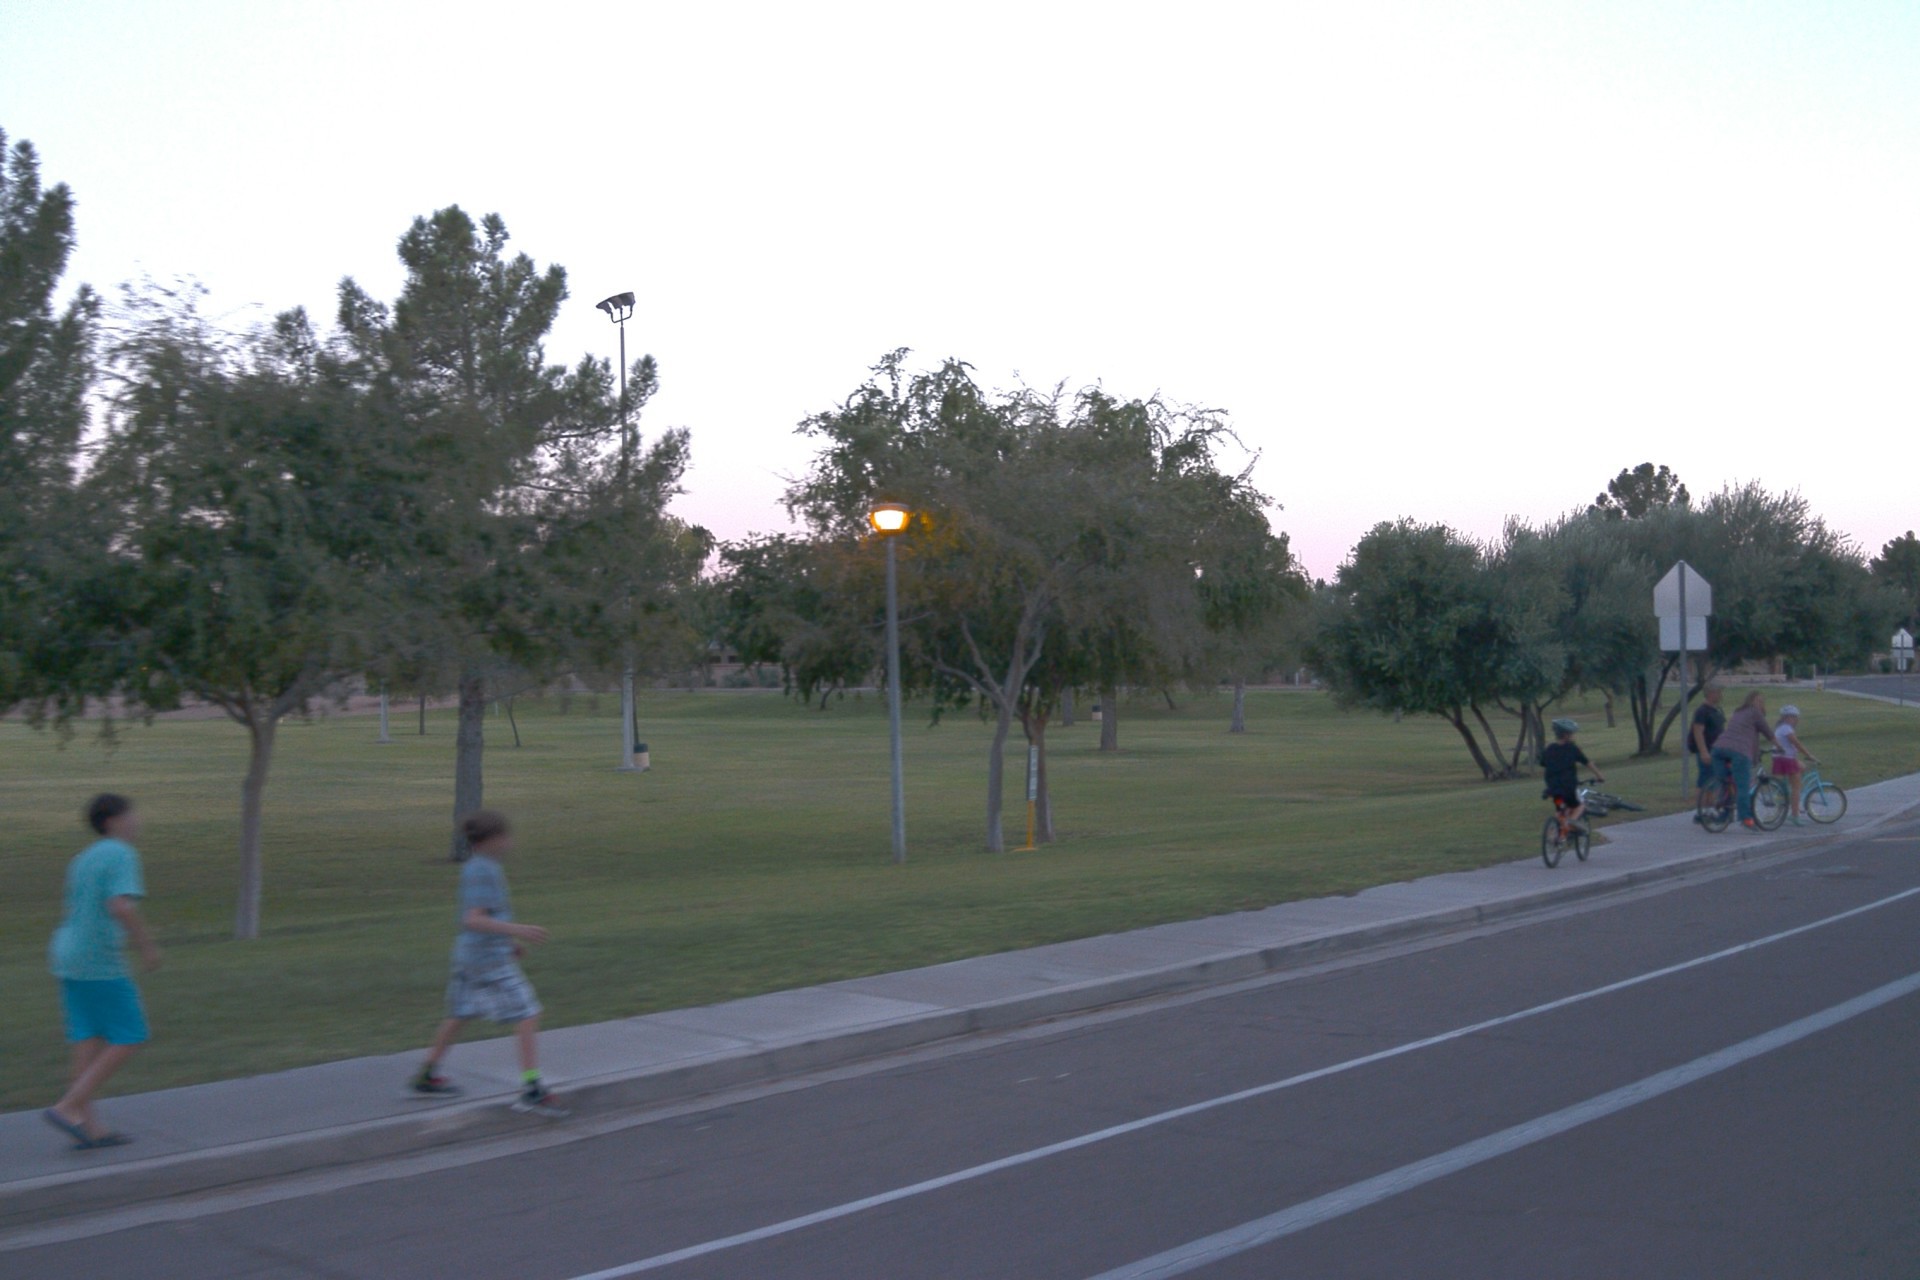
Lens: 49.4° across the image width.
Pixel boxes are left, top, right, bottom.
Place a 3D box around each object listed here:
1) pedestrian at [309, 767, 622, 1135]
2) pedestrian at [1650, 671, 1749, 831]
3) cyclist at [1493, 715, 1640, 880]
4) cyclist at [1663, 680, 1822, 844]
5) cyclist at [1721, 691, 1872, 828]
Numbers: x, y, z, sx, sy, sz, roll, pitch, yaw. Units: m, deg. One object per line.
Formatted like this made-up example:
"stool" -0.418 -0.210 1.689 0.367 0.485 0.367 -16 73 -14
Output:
"pedestrian" -2.282 1.412 9.843 1.287 1.560 1.090 0 0 -6
"pedestrian" 8.797 1.293 24.850 0.835 1.840 0.887 0 0 41
"cyclist" 5.837 1.473 20.060 0.772 1.460 1.641 0 0 39
"cyclist" 8.953 1.358 23.865 1.967 1.770 0.804 1 0 -39
"cyclist" 10.264 1.456 25.651 1.579 1.630 0.726 0 0 -12
